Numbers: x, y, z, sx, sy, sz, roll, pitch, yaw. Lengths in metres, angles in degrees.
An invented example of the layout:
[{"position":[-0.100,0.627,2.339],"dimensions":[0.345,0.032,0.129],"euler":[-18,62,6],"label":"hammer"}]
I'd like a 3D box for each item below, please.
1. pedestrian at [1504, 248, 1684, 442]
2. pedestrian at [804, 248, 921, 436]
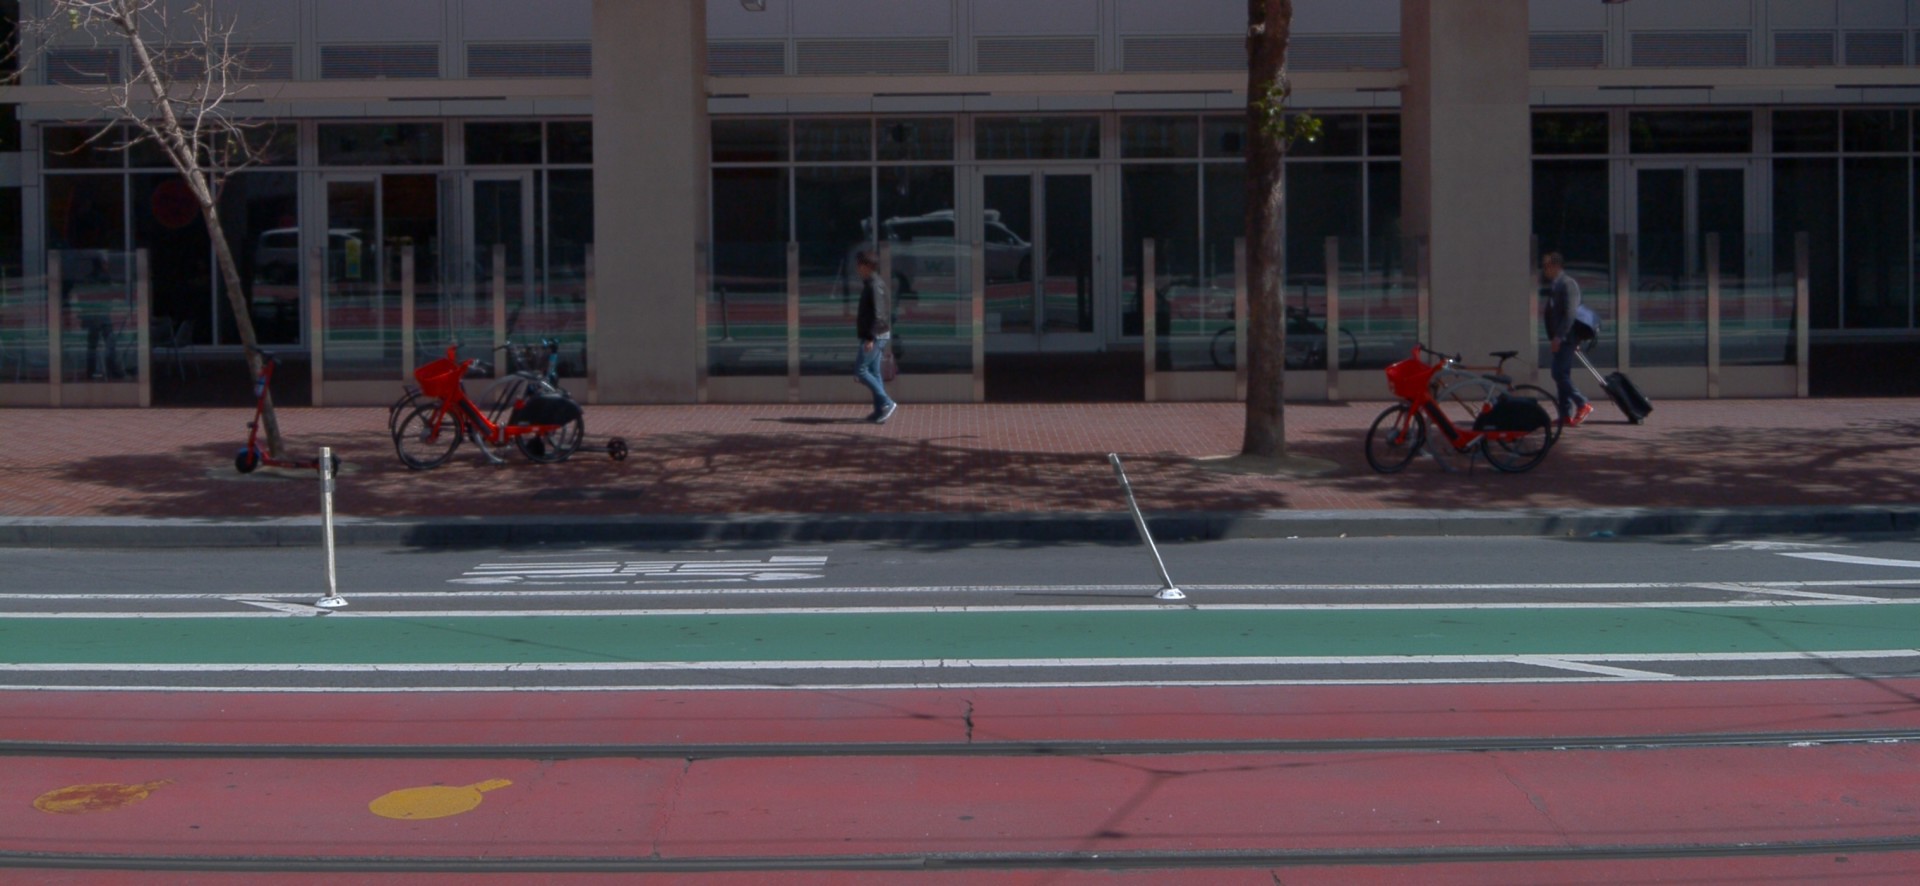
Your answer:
[{"position":[6.607,-1.045,21.614],"dimensions":[1.554,1.946,0.982],"euler":[-1,2,-2],"label":"pedestrian"},{"position":[-1.056,-1.104,22.144],"dimensions":[1.195,1.946,0.855],"euler":[-1,2,-5],"label":"pedestrian"}]
